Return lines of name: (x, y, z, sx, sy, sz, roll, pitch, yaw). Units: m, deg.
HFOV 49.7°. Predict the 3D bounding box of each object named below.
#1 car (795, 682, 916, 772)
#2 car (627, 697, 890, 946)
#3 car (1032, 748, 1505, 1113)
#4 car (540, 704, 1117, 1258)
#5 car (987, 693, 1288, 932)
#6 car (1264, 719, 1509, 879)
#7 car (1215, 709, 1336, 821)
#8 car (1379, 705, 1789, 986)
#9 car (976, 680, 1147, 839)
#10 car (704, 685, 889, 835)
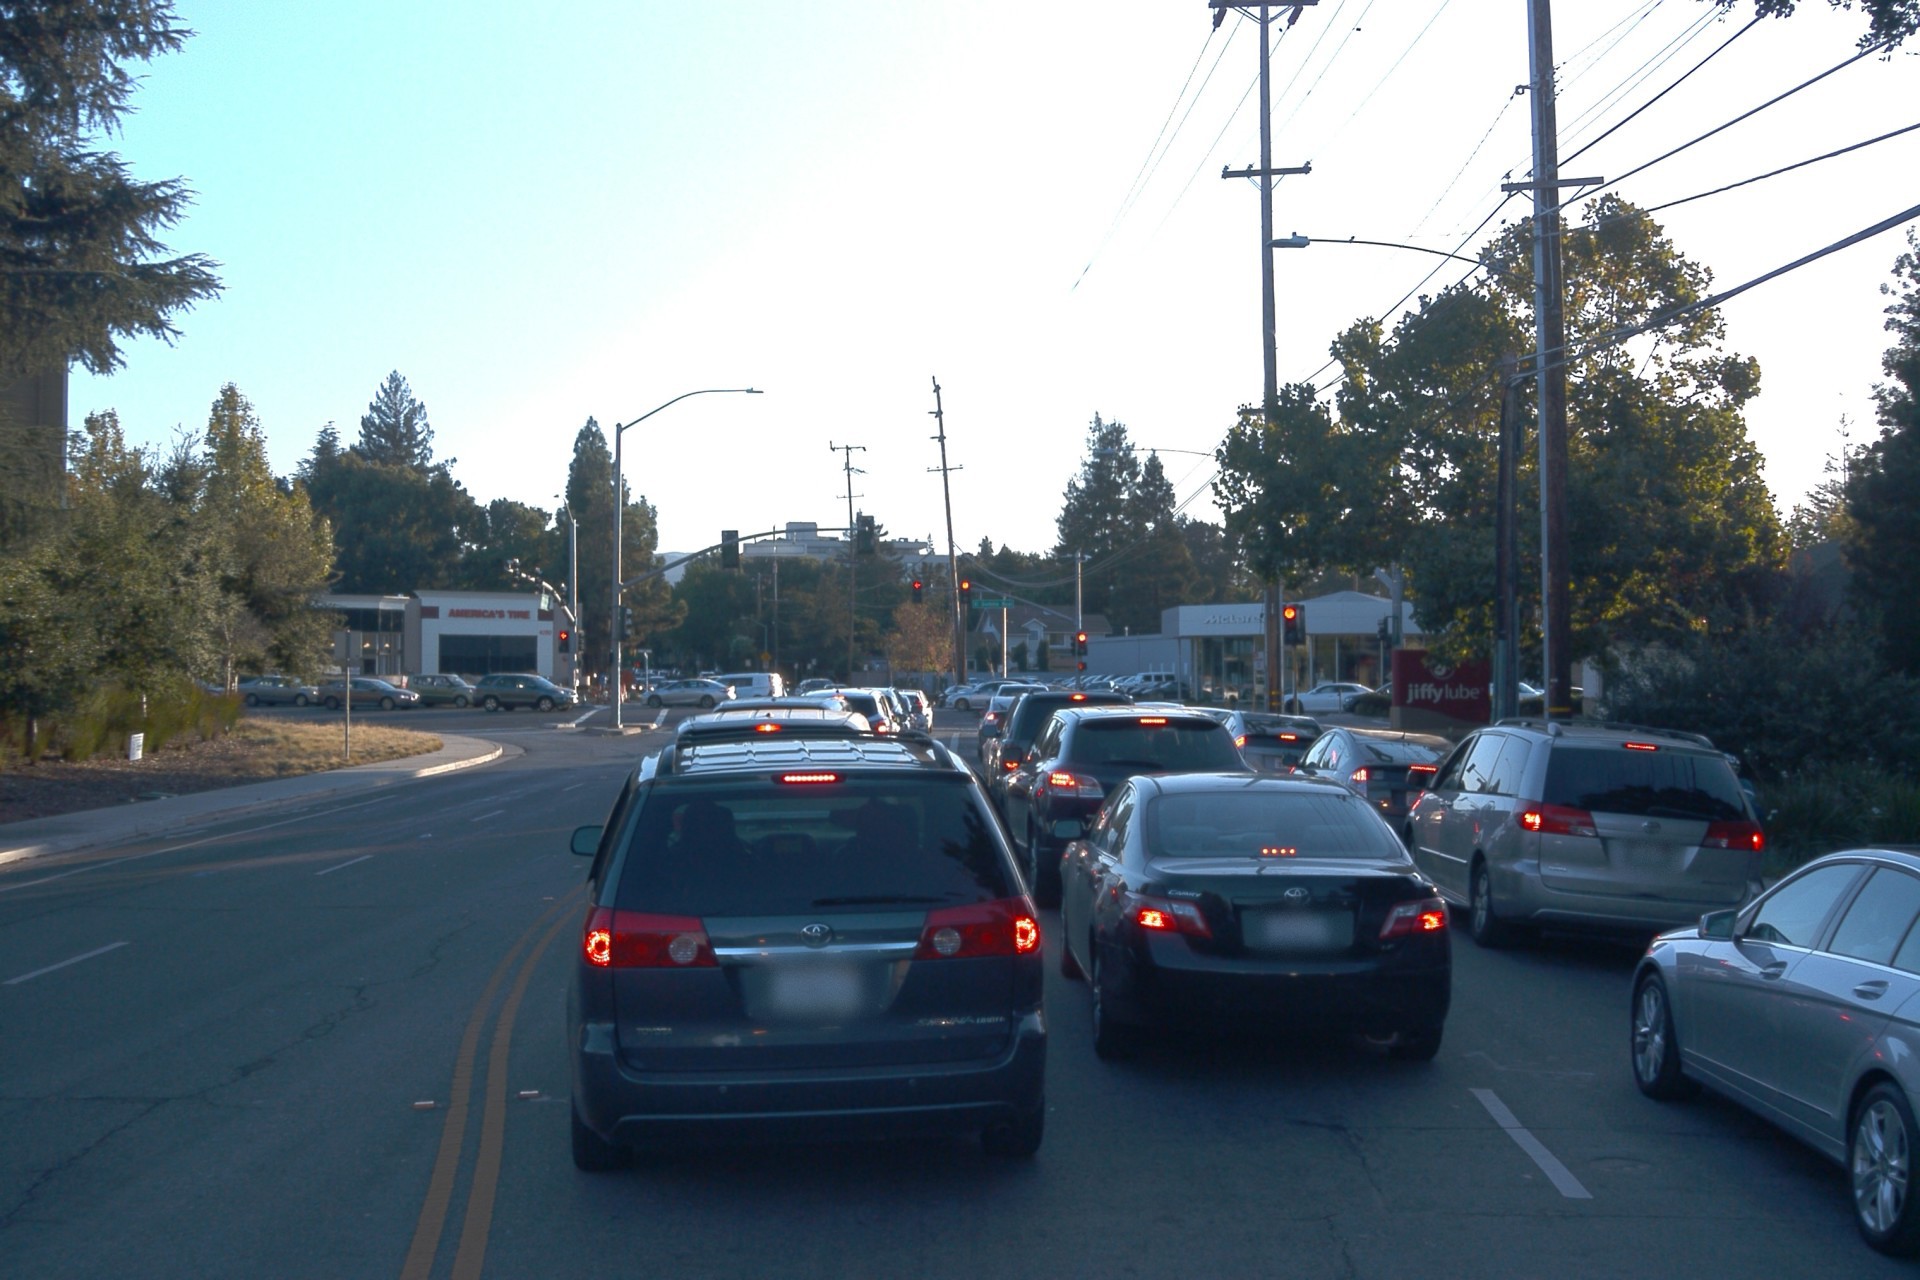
car: (-1.660, 1.379, 33.817, 1.709, 1.350, 3.337, 0, 0, 2)
car: (-1.459, 1.307, 16.303, 1.812, 1.620, 4.042, 0, 0, -2)
car: (1.529, 1.479, 11.982, 1.915, 1.490, 4.528, 0, 0, -2)
car: (-0.875, 1.305, 10.237, 2.102, 1.830, 5.461, 0, 0, -9)
car: (1.458, 1.435, 18.839, 1.992, 1.810, 4.553, 0, 0, -5)
car: (4.676, 1.711, 23.272, 1.785, 1.510, 4.026, 0, 0, -2)
car: (4.670, 1.825, 30.934, 1.418, 1.490, 3.138, 0, 0, 2)
car: (4.903, 1.525, 17.100, 2.061, 1.850, 4.903, 0, 0, 2)
car: (1.186, 1.419, 25.823, 1.759, 1.770, 3.957, 0, 0, -3)
car: (-1.862, 1.360, 24.685, 1.760, 1.570, 3.956, 0, 0, 2)
